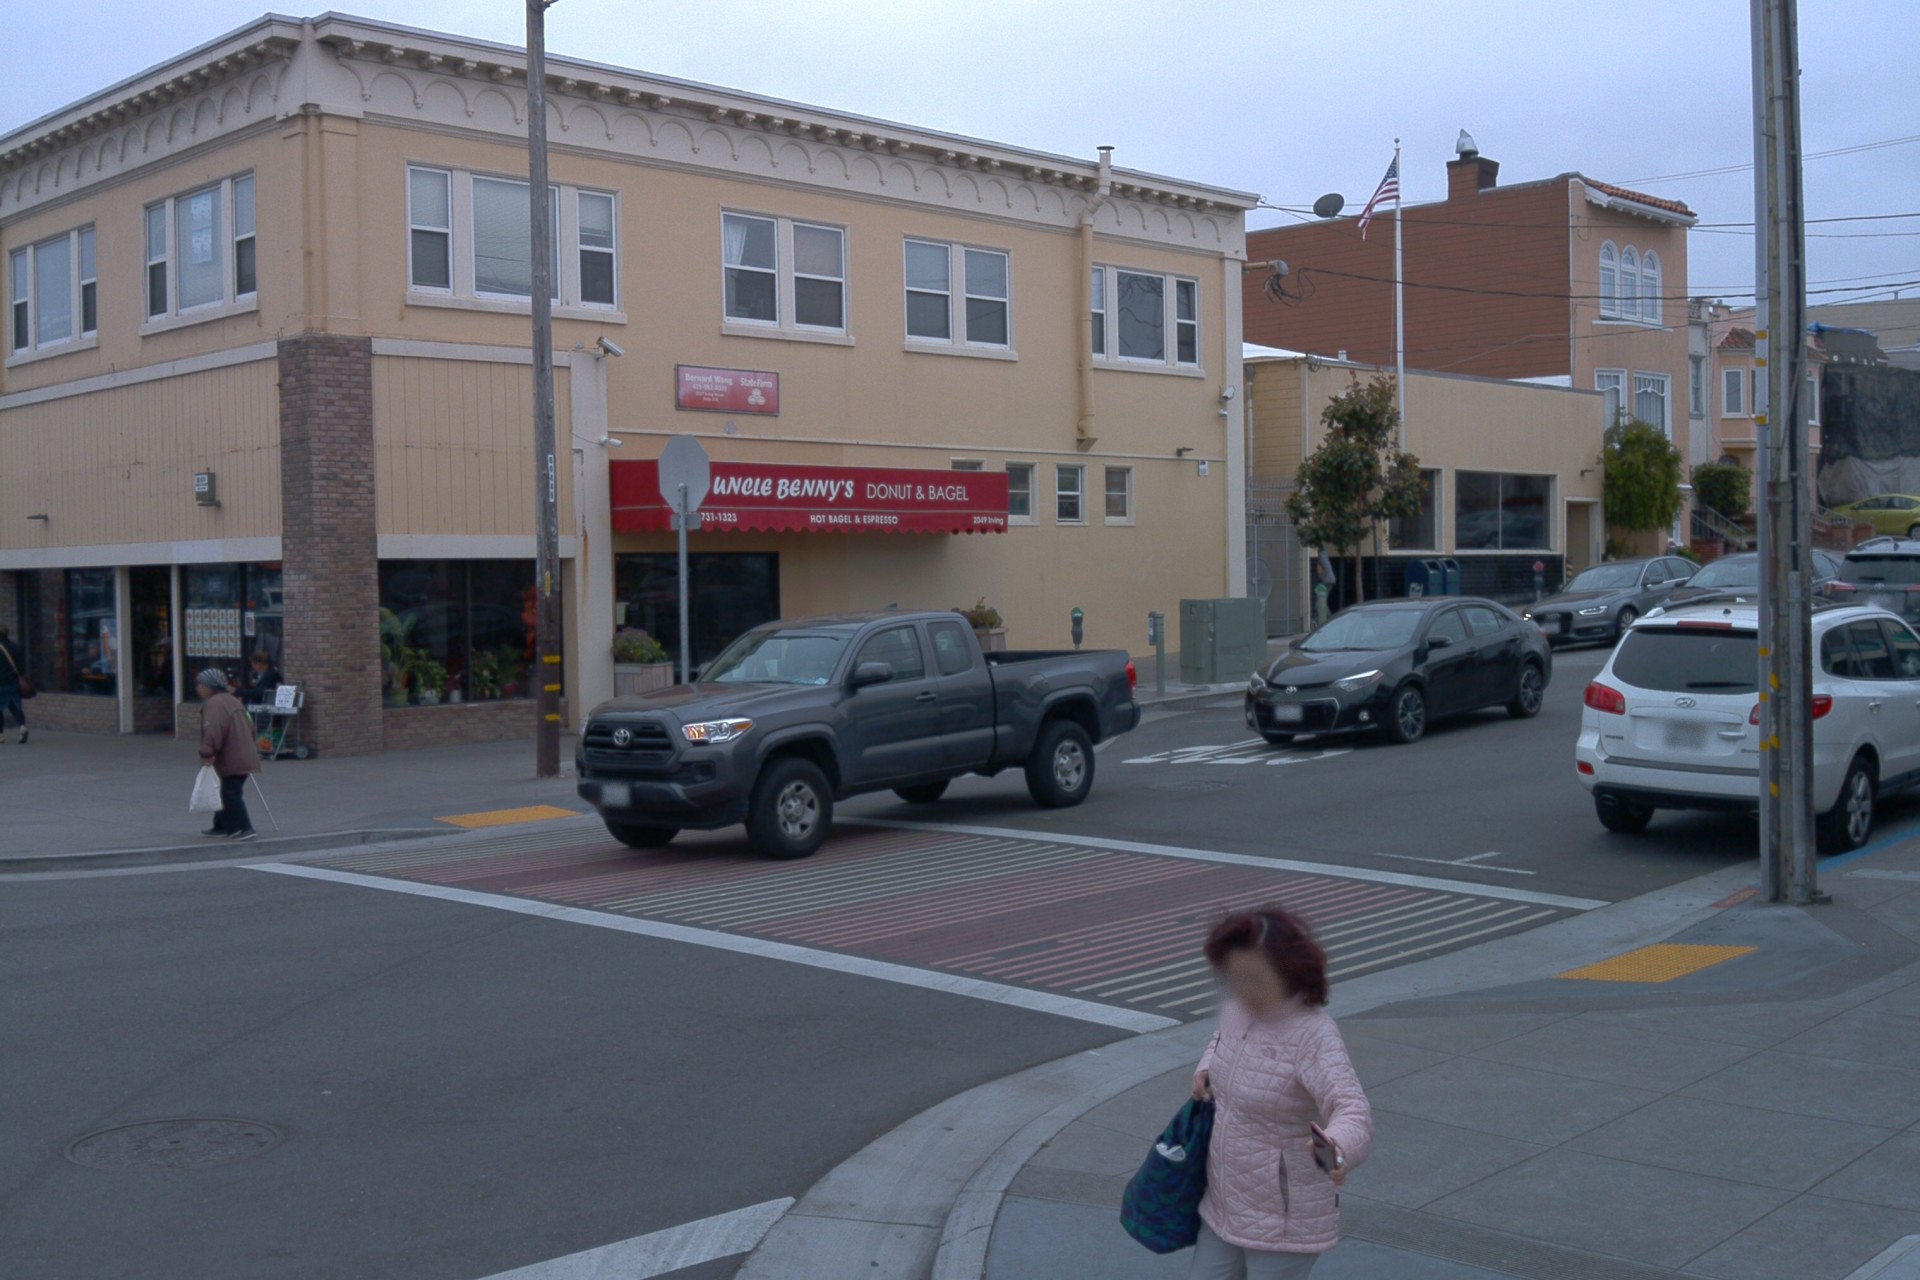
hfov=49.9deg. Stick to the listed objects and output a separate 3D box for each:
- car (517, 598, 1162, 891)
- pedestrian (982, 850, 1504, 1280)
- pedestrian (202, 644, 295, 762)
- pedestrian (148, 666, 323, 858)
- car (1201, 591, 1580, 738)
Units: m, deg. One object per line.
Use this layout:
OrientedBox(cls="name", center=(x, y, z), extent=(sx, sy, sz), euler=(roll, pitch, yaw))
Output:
OrientedBox(cls="car", center=(-0.767, 0.688, 16.873), extent=(2.075, 2.008, 5.437), euler=(0, 1, 40))
OrientedBox(cls="pedestrian", center=(0.622, 1.288, 4.780), extent=(0.848, 1.479, 0.913), euler=(0, 1, -22))
OrientedBox(cls="pedestrian", center=(-8.557, 0.737, 24.829), extent=(0.878, 1.374, 0.735), euler=(1, 1, 44))
OrientedBox(cls="pedestrian", center=(-5.869, 0.960, 16.769), extent=(0.834, 1.477, 1.064), euler=(0, 1, 24))
OrientedBox(cls="car", center=(4.823, 0.217, 22.715), extent=(2.067, 1.440, 4.540), euler=(0, 1, 42))
